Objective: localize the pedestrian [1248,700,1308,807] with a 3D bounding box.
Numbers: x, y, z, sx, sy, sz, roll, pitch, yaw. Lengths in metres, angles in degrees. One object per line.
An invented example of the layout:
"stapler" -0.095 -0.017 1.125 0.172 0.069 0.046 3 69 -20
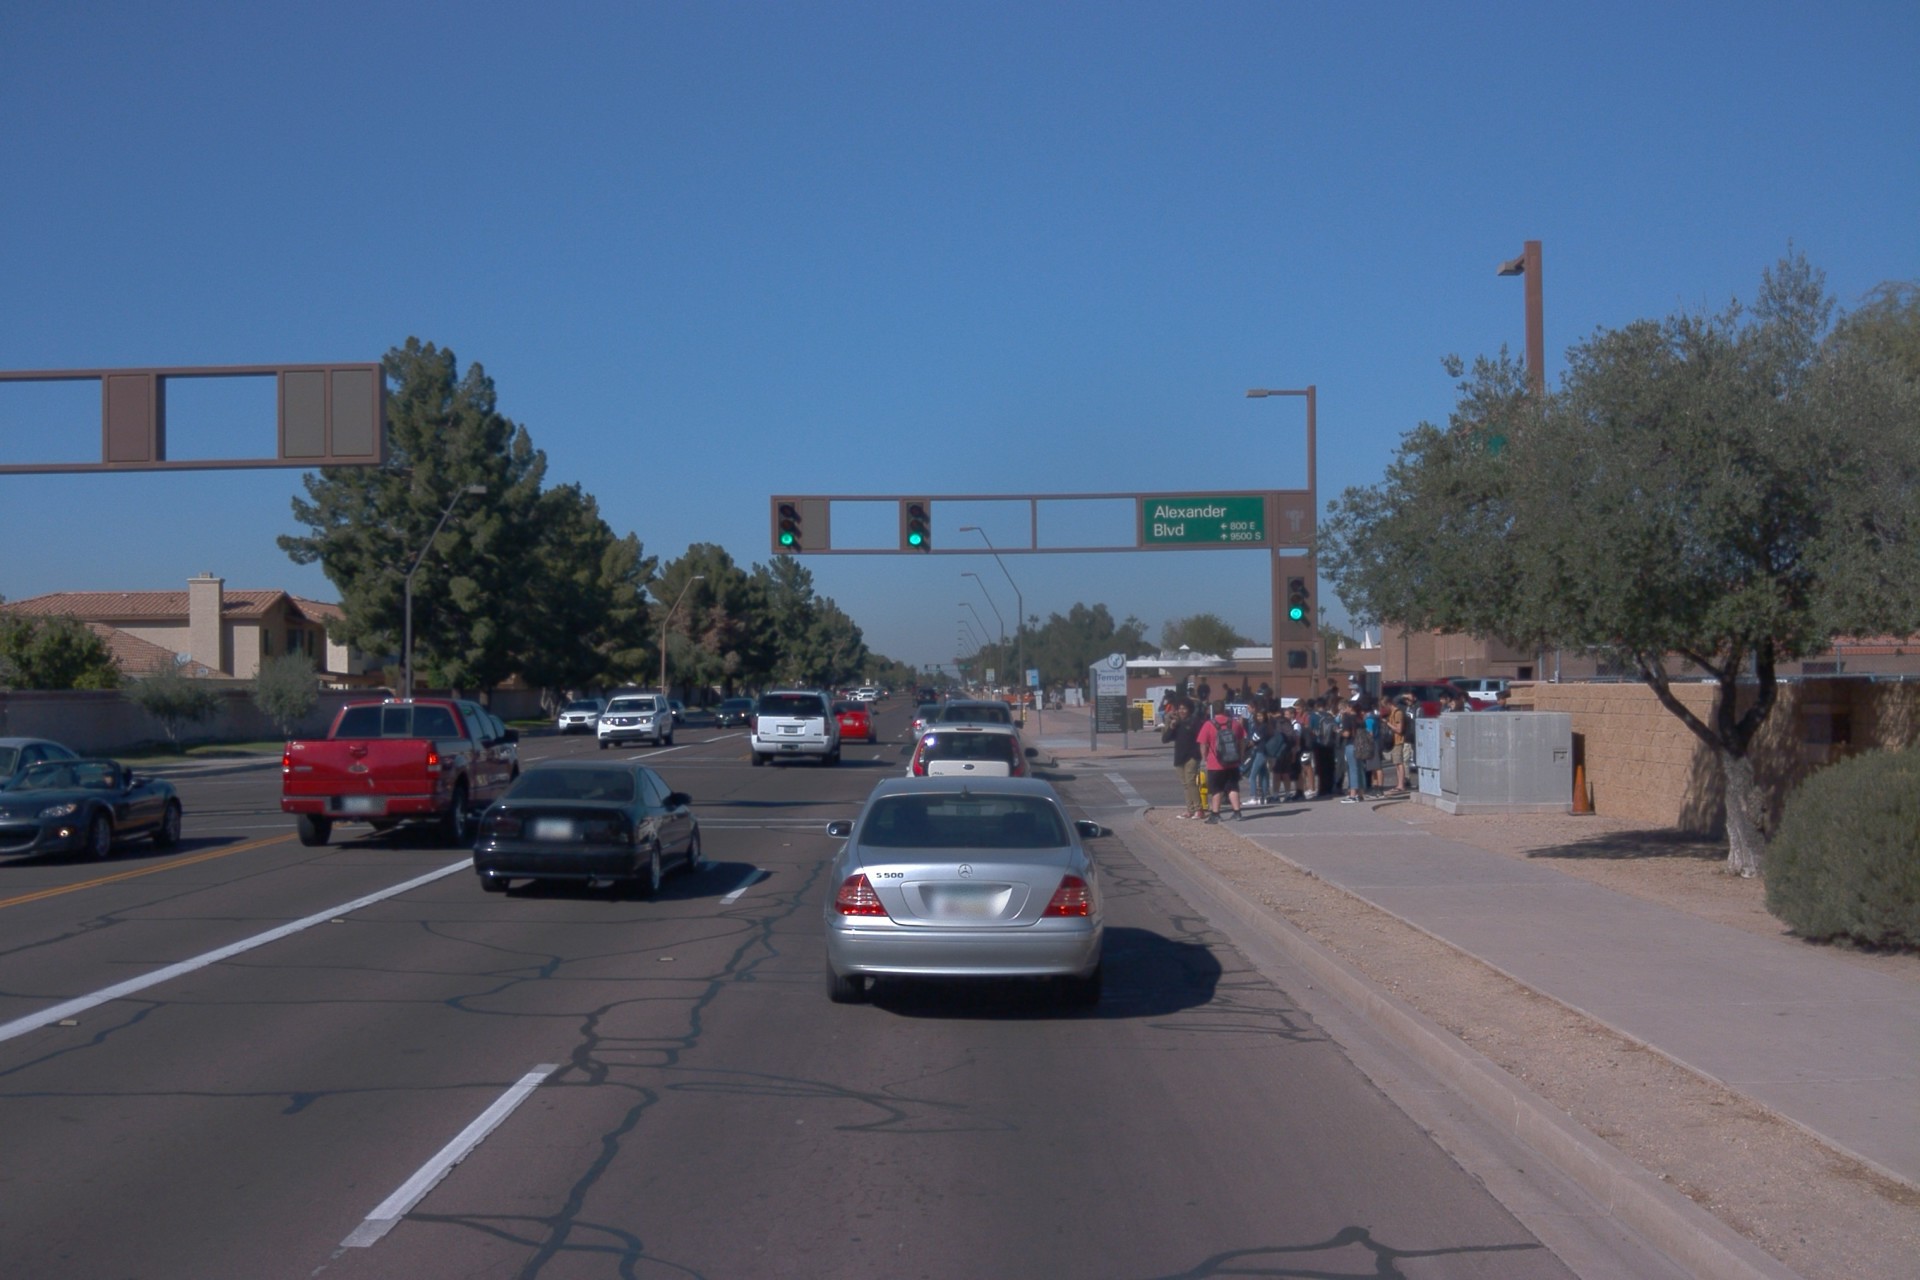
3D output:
"pedestrian" 5.292 1.881 34.650 0.860 1.750 0.887 0 -1 0

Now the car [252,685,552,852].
"car" -7.261 1.604 27.854 2.581 1.980 5.796 0 -1 -1

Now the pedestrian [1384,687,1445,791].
"pedestrian" 8.142 1.765 37.235 0.817 1.830 0.731 0 -1 -16

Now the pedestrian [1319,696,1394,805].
"pedestrian" 6.368 1.763 33.393 0.844 1.710 0.856 1 -1 -44

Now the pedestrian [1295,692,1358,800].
"pedestrian" 6.250 1.795 35.479 0.887 1.820 0.860 0 -1 -3

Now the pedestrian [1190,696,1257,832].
"pedestrian" 3.798 1.768 29.912 0.877 1.910 0.878 0 -1 12

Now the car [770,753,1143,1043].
"car" -0.012 1.689 14.901 2.265 1.600 4.514 0 -1 0

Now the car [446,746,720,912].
"car" -3.791 1.881 21.703 1.915 1.410 4.397 0 -1 2

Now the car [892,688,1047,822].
"car" 0.175 1.576 29.874 2.056 1.760 4.487 0 -1 1

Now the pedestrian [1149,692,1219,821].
"pedestrian" 3.365 1.729 31.196 0.822 1.890 0.887 0 -1 23

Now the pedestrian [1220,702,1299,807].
"pedestrian" 4.886 1.850 33.942 1.032 1.670 0.874 0 -1 29

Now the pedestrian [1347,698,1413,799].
"pedestrian" 7.059 1.812 34.980 0.887 1.680 0.860 0 -1 -3

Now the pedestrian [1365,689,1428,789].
"pedestrian" 7.612 1.716 36.312 0.887 1.730 0.860 0 -1 -3

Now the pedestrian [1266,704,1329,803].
"pedestrian" 5.688 1.904 35.046 0.887 1.650 0.860 0 -1 -3
